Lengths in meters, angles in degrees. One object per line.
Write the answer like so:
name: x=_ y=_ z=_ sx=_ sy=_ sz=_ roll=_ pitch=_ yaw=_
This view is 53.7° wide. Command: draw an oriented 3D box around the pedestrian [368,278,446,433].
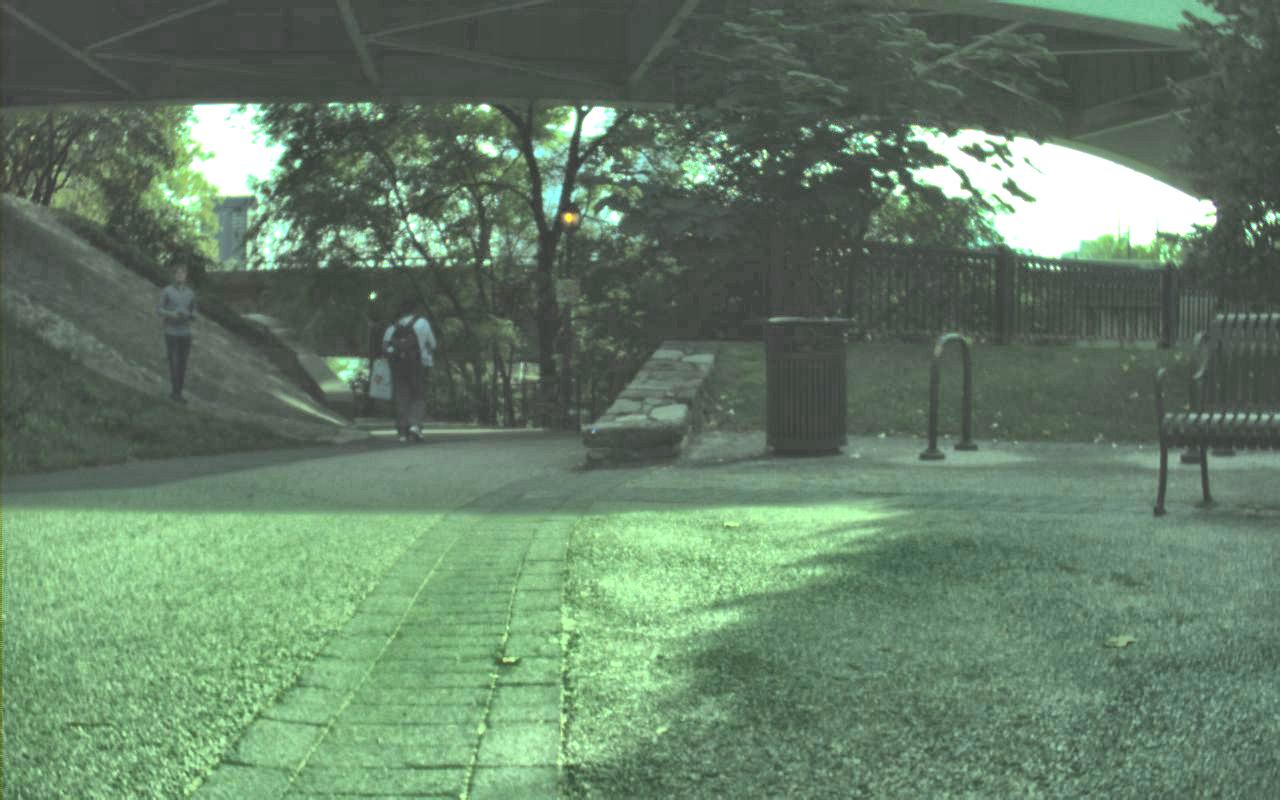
pedestrian: x=-2.686 y=-0.503 z=14.390 sx=0.875 sy=1.732 sz=0.886 roll=0 pitch=0 yaw=-9

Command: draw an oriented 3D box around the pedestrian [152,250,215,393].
pedestrian: x=-6.153 y=-1.016 z=15.952 sx=0.788 sy=1.871 sz=0.770 roll=0 pitch=0 yaw=-27
